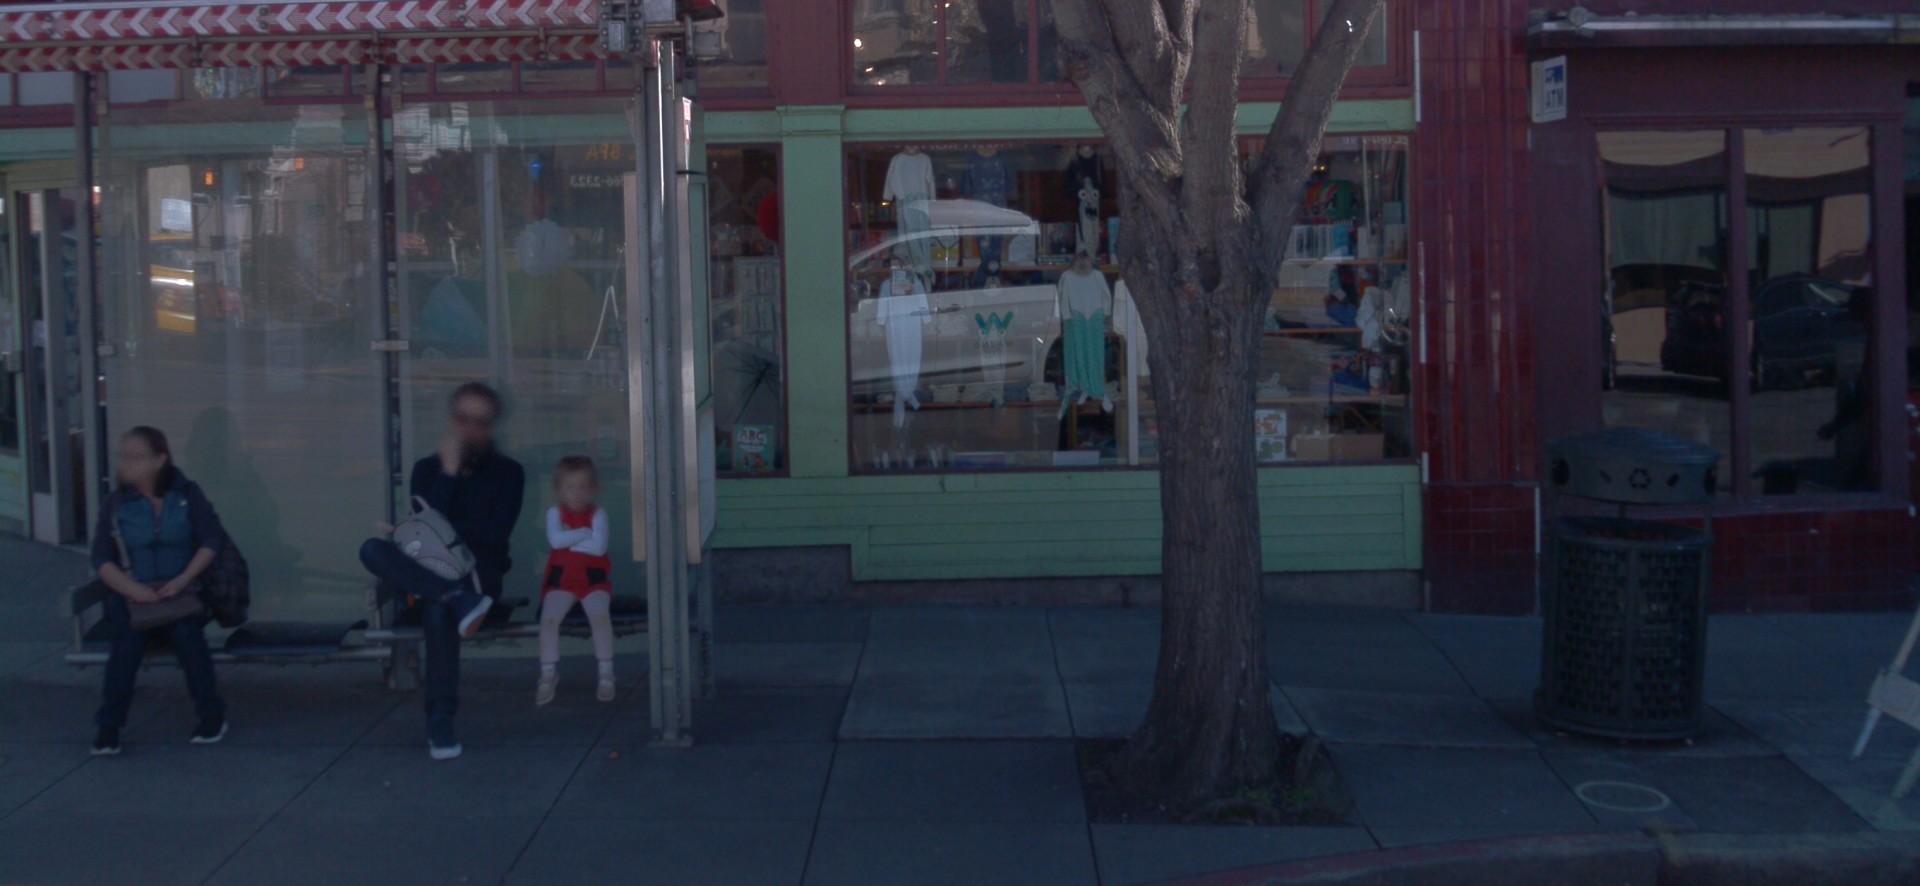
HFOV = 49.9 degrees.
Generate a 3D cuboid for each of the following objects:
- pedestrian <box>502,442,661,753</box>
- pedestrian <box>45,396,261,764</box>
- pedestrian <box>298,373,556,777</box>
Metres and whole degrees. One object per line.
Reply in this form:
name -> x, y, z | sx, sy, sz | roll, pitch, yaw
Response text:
pedestrian -> -1.461, 0.578, 8.039 | 0.528, 1.098, 0.572 | 0, 2, -3
pedestrian -> -3.127, 0.490, 8.059 | 0.737, 1.258, 0.794 | -1, 2, -19
pedestrian -> -2.033, 0.468, 7.999 | 0.753, 1.398, 0.926 | 0, 2, 0
